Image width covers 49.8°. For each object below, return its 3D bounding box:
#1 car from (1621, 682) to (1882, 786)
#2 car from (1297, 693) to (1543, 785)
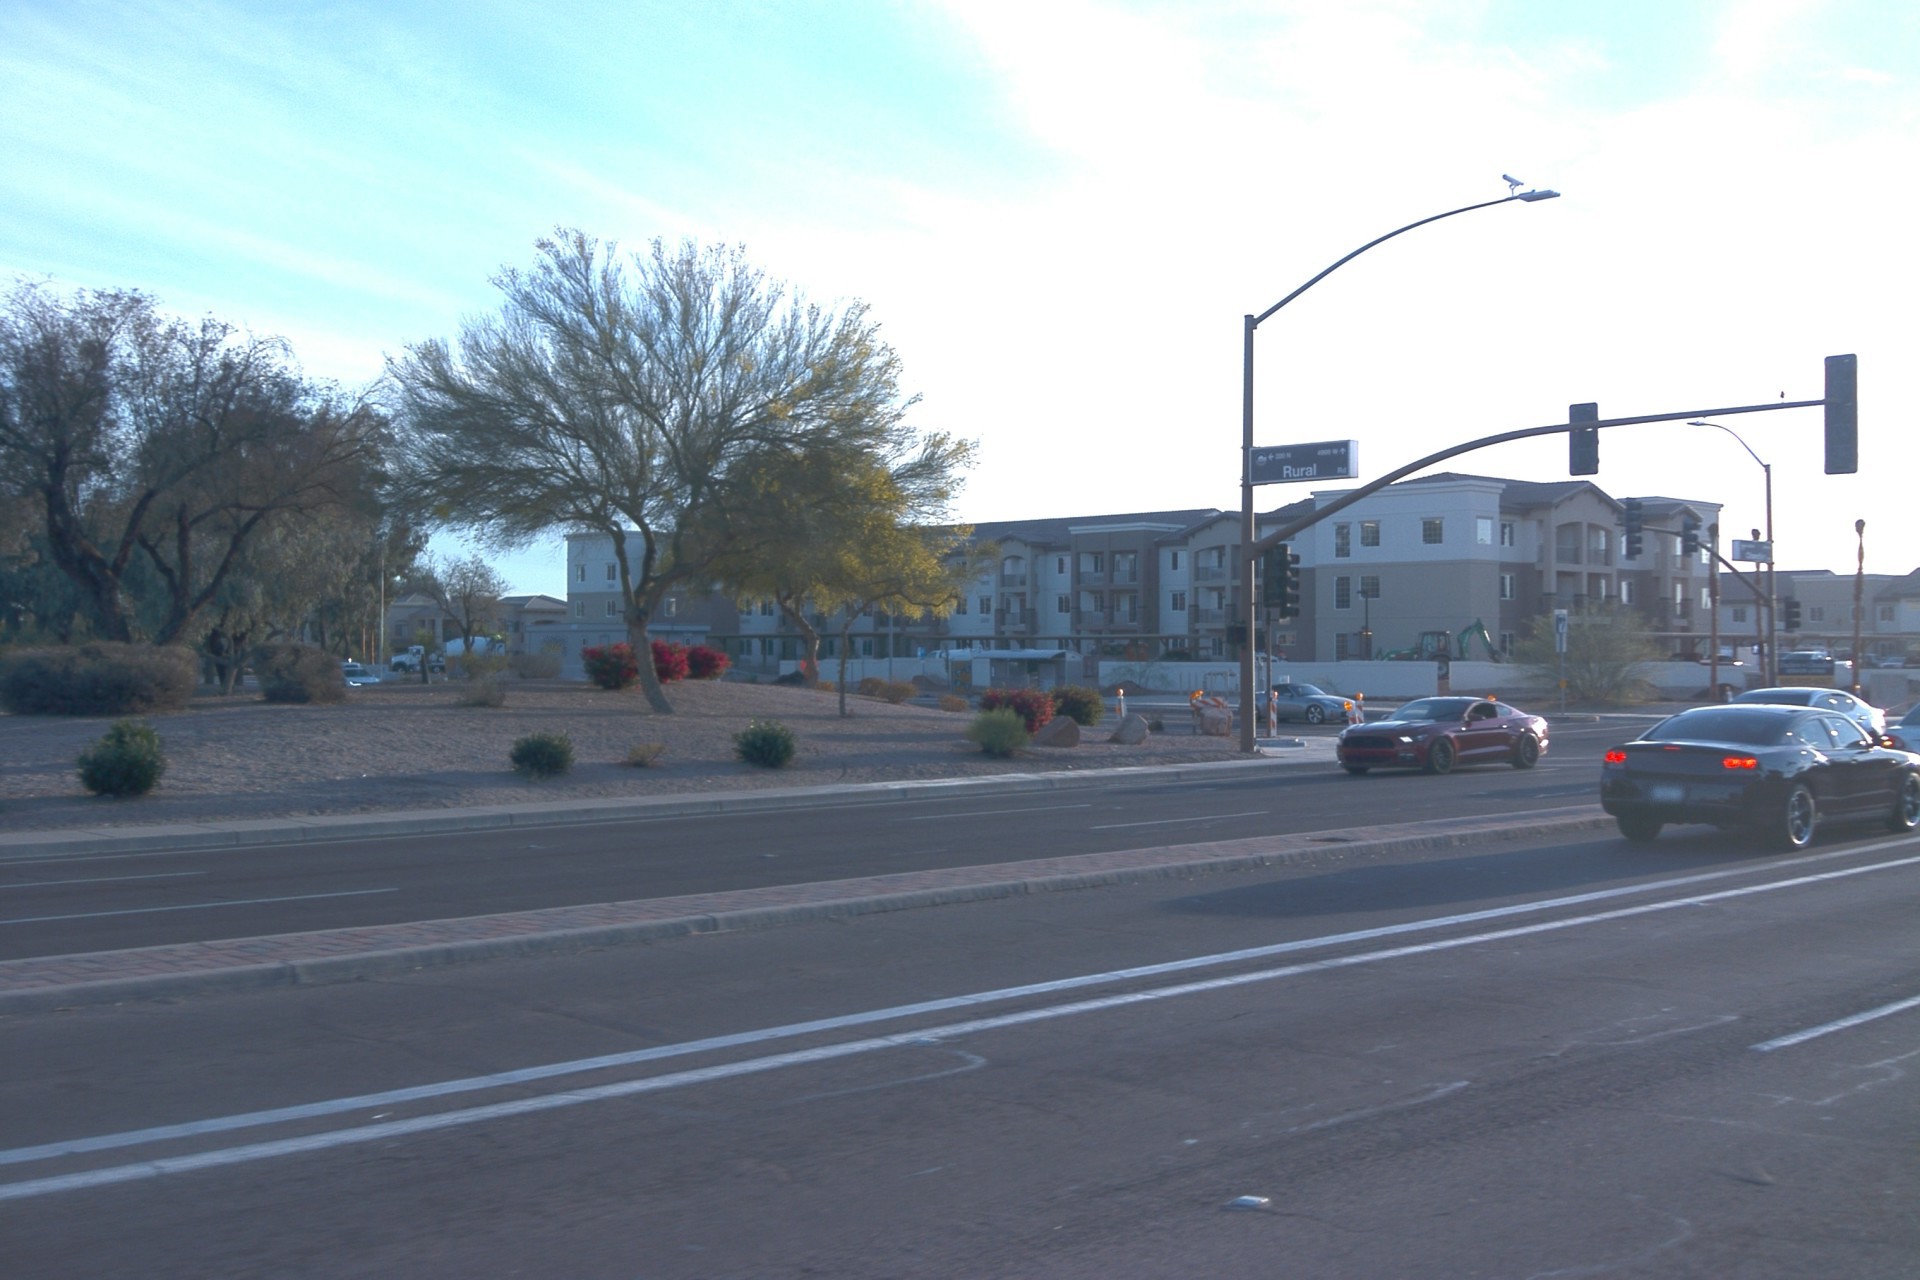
[{"bbox_3d":[13.265,1.506,34.488,4.878,1.520,2.116,1,0,-43],"label":"car"},{"bbox_3d":[8.367,1.733,37.318,4.768,1.440,2.038,1,0,-44],"label":"car"}]
